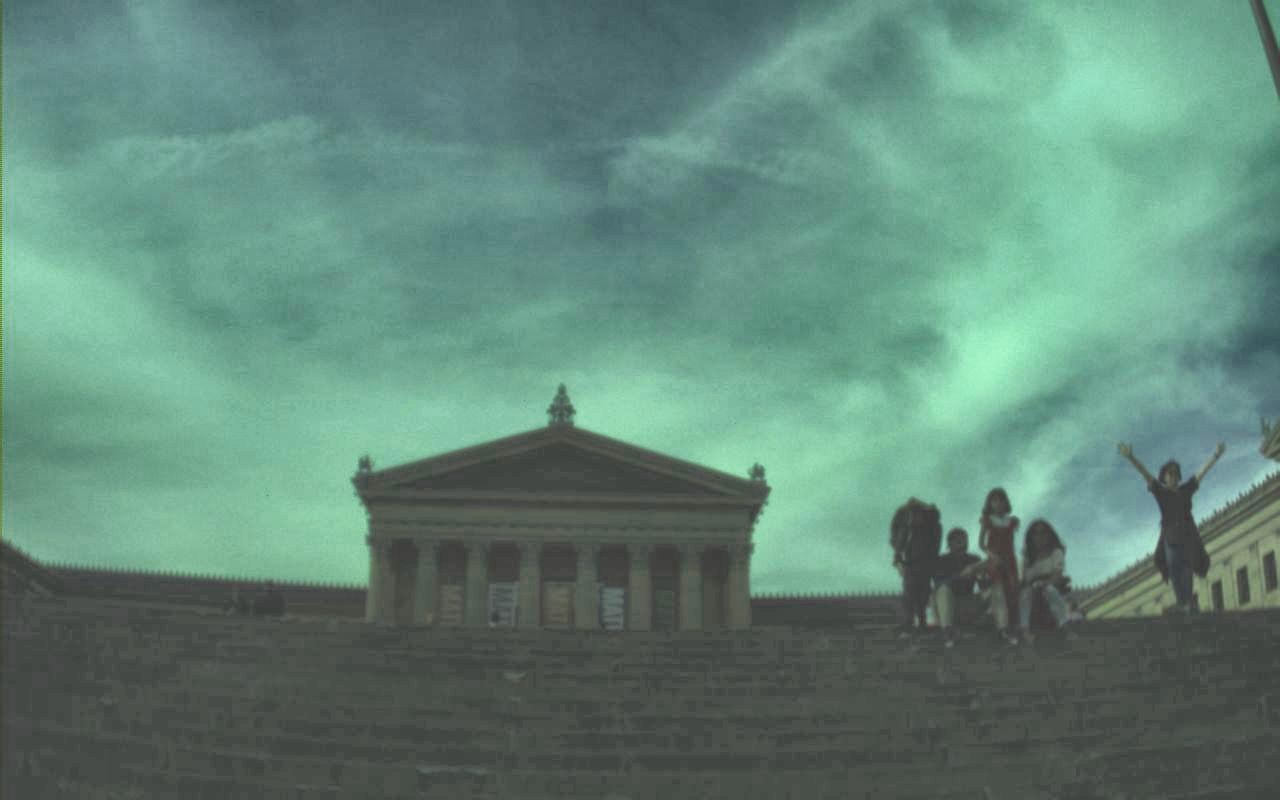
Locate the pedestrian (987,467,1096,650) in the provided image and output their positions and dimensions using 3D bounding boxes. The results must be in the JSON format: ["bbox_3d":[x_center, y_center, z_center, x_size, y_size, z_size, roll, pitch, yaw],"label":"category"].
[{"bbox_3d":[3.318,1.310,9.969,0.753,1.427,0.792,0,0,8],"label":"pedestrian"}]

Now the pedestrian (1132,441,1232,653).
[{"bbox_3d":[5.120,1.391,10.896,0.658,1.912,0.679,0,0,-38],"label":"pedestrian"}]
